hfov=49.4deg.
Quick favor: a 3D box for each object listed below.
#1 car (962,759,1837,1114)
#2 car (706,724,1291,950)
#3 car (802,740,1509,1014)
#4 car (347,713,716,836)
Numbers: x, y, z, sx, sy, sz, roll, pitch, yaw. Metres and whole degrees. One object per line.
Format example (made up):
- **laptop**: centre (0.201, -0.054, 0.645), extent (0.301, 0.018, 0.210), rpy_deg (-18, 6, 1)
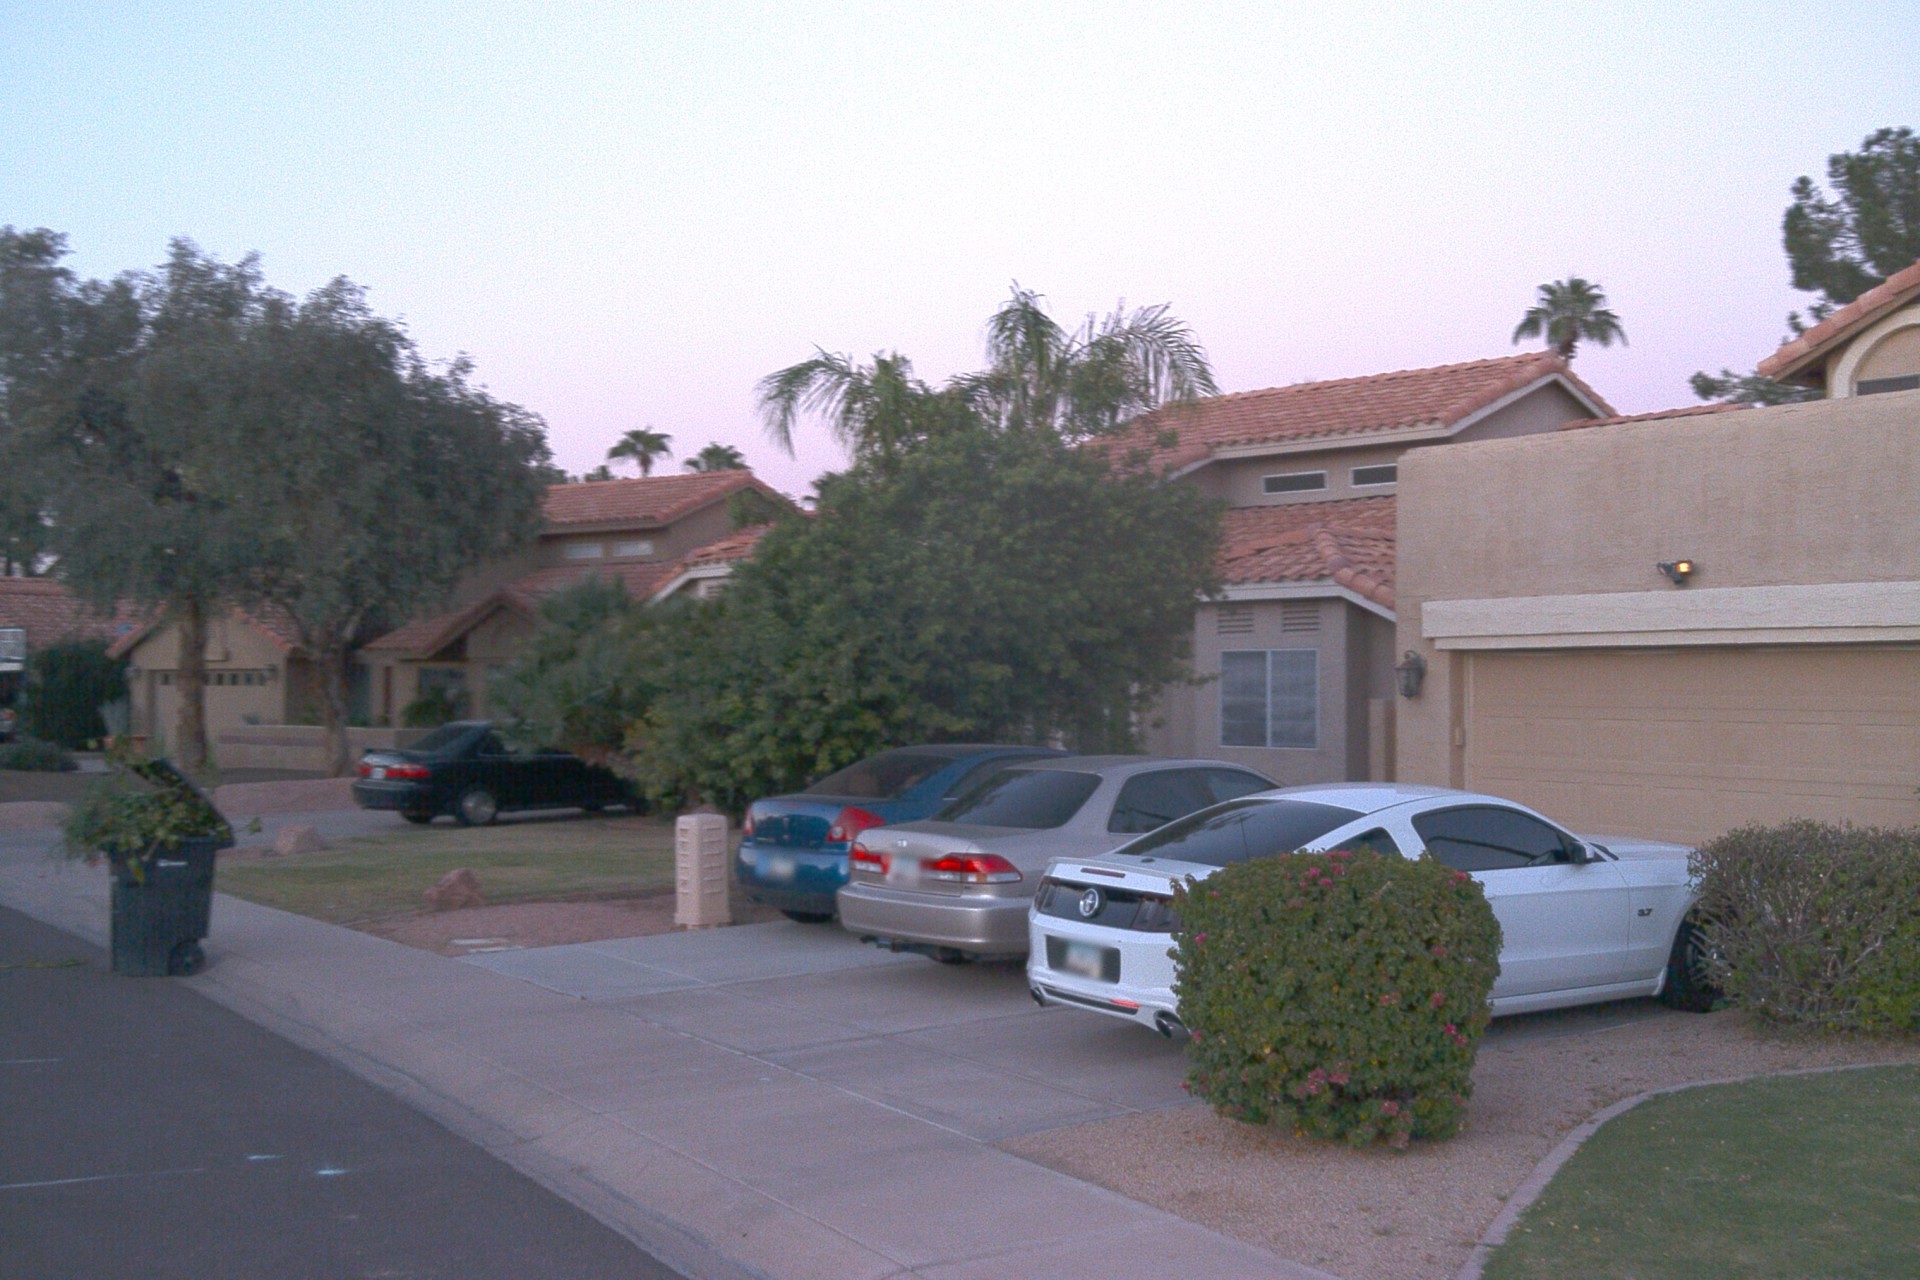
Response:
- **car**: centre (2.600, 1.532, 12.037), extent (4.756, 1.520, 2.074), rpy_deg (1, 0, -30)
- **car**: centre (0.438, 1.524, 17.434), extent (4.773, 1.510, 2.002), rpy_deg (1, -1, -41)
- **car**: centre (1.506, 1.541, 14.885), extent (4.887, 1.500, 2.074), rpy_deg (1, -1, -37)
- **car**: centre (-5.910, 1.810, 29.083), extent (4.606, 1.490, 2.065), rpy_deg (1, -1, -40)
